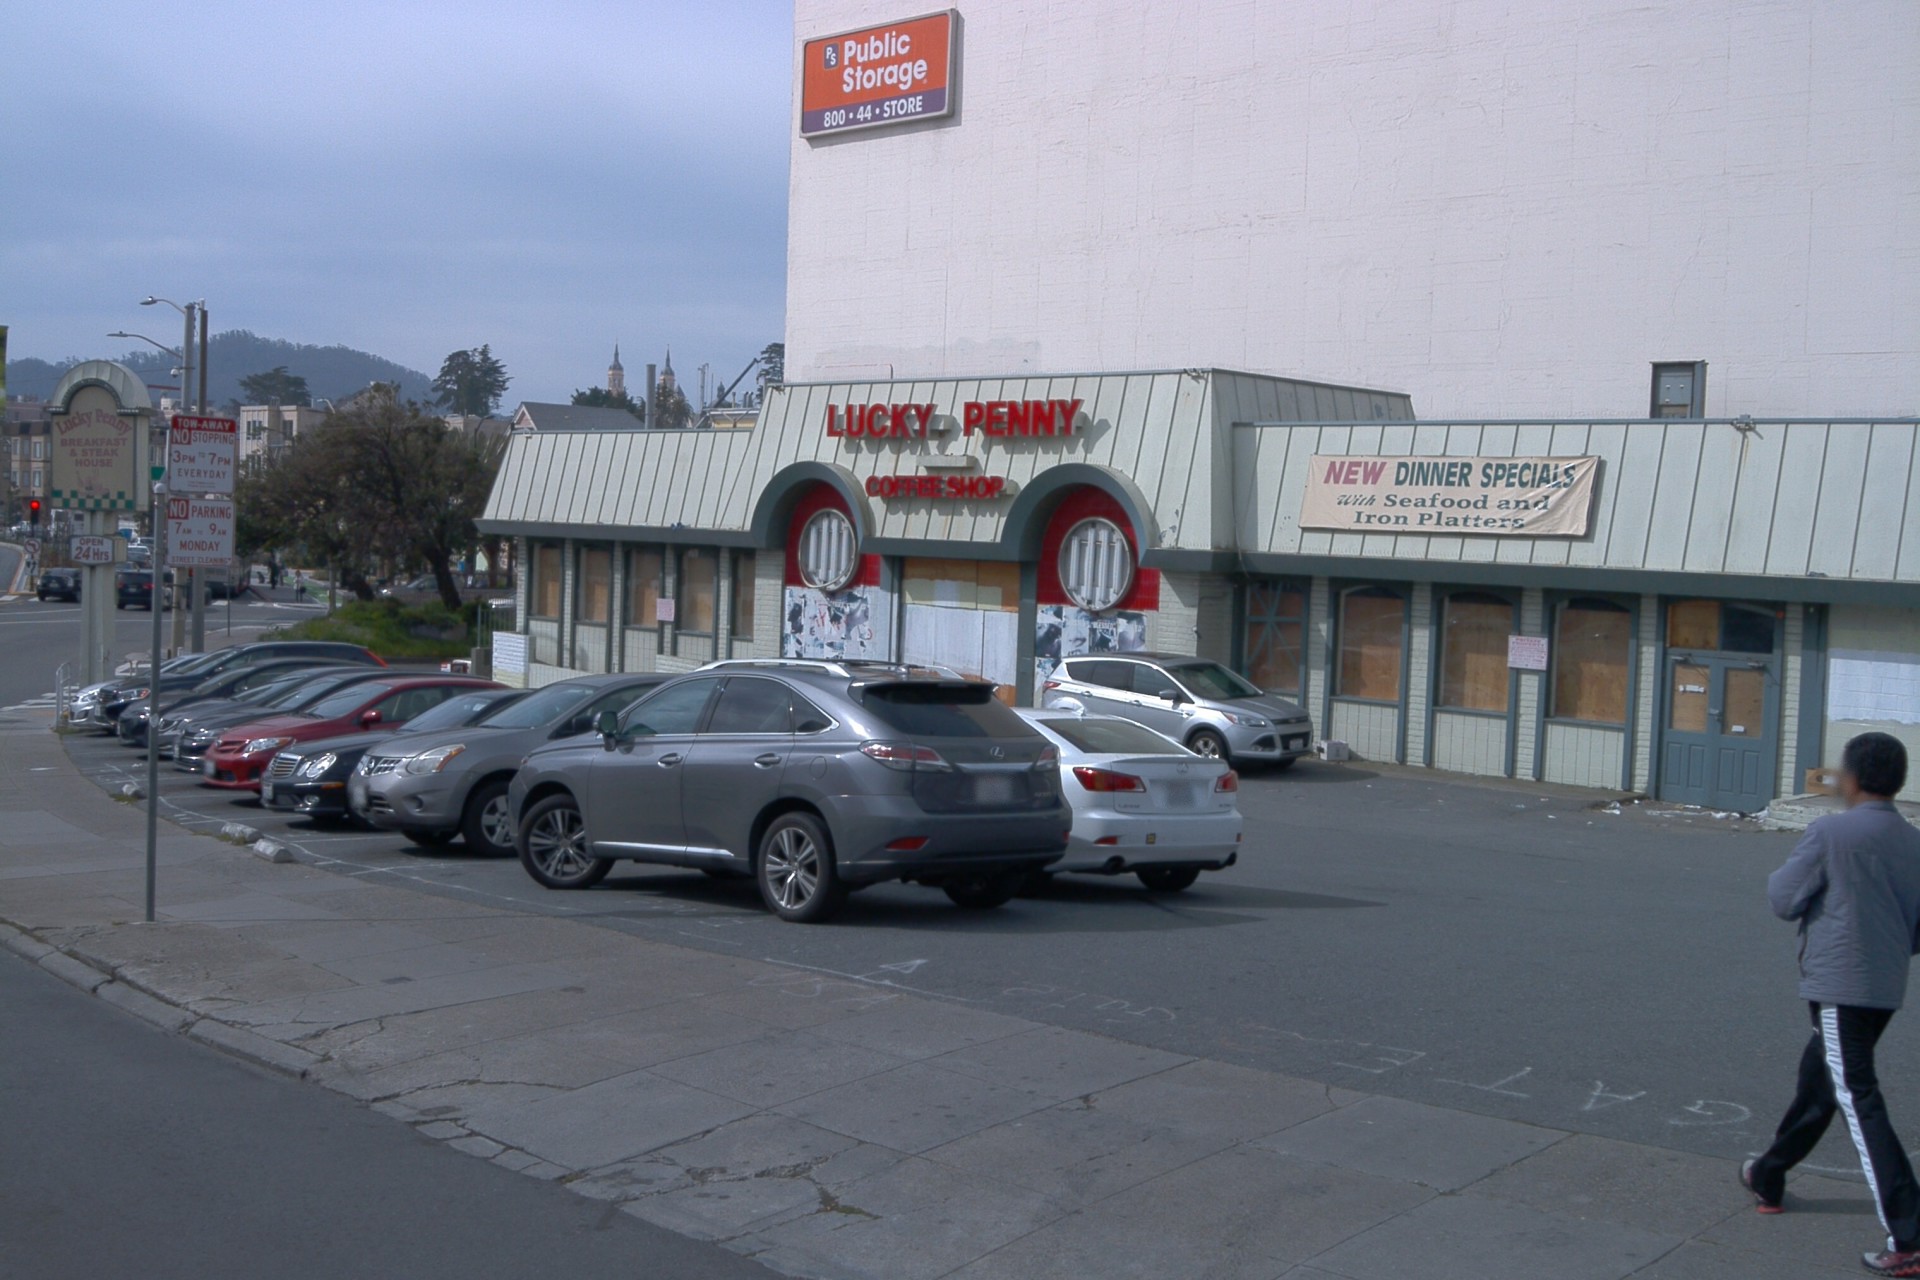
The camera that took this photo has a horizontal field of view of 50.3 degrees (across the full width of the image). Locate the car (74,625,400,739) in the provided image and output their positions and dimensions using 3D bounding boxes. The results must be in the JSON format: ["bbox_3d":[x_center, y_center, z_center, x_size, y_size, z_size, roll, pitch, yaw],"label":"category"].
[{"bbox_3d":[-11.715,0.642,33.333,4.561,1.710,2.059,0,0,-43],"label":"car"}]

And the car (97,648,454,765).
[{"bbox_3d":[-10.336,0.945,31.104,4.651,1.610,2.192,0,0,-43],"label":"car"}]

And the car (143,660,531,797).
[{"bbox_3d":[-7.972,1.070,26.410,4.343,1.580,1.994,0,0,-43],"label":"car"}]

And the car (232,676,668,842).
[{"bbox_3d":[-5.264,1.162,21.427,4.029,1.500,1.869,0,0,-45],"label":"car"}]

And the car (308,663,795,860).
[{"bbox_3d":[-3.714,1.030,19.045,1.975,1.570,4.019,1,0,44],"label":"car"}]

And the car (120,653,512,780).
[{"bbox_3d":[-8.982,1.001,28.782,4.736,1.590,2.241,0,0,-44],"label":"car"}]

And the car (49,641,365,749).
[{"bbox_3d":[-13.135,0.909,35.856,4.757,1.740,2.072,0,0,-43],"label":"car"}]

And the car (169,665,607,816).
[{"bbox_3d":[-6.656,1.101,24.116,4.484,1.550,2.134,0,0,-44],"label":"car"}]

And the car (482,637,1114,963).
[{"bbox_3d":[-1.291,0.963,14.599,2.065,1.920,4.493,0,0,-45],"label":"car"}]

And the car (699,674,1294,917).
[{"bbox_3d":[0.159,1.125,16.691,2.088,1.580,4.738,0,0,-44],"label":"car"}]

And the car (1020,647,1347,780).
[{"bbox_3d":[3.289,1.027,30.718,2.134,1.790,4.557,0,0,-44],"label":"car"}]
